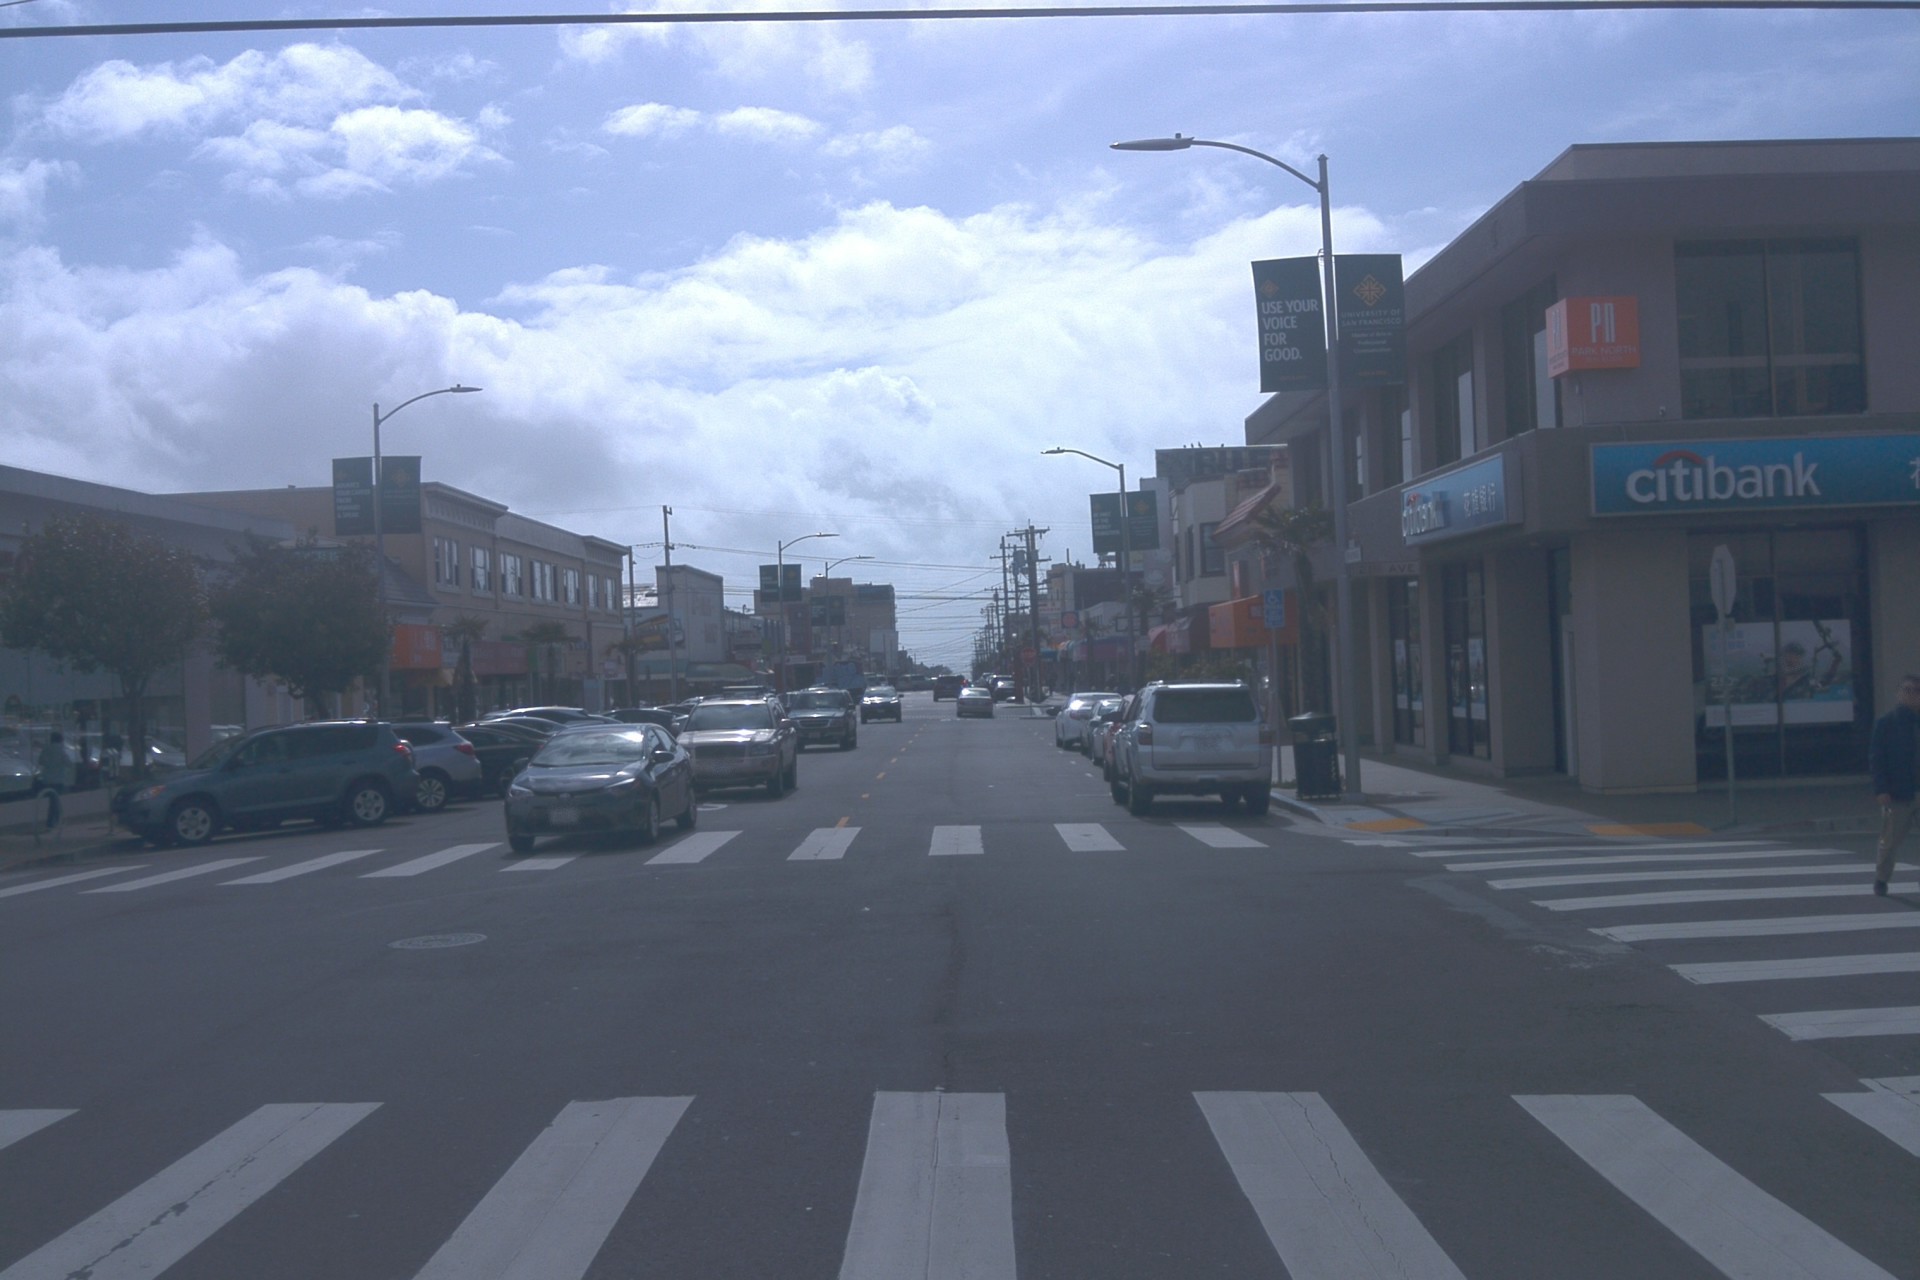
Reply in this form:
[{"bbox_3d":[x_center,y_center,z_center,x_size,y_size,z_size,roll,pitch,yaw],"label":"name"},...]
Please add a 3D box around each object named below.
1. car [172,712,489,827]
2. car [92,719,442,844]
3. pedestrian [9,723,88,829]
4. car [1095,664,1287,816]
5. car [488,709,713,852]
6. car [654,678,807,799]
[{"bbox_3d":[-10.593,2.121,35.040,4.689,1.720,2.069,0,-1,-37],"label":"car"},{"bbox_3d":[-10.624,2.109,31.927,4.689,1.670,2.069,0,-1,-36],"label":"car"},{"bbox_3d":[-14.637,2.174,33.298,0.791,1.643,0.931,0,-1,7],"label":"pedestrian"},{"bbox_3d":[3.161,1.335,29.363,2.072,1.977,4.682,0,-1,-2],"label":"car"},{"bbox_3d":[-4.414,1.692,26.193,2.013,1.553,4.581,0,-1,0],"label":"car"},{"bbox_3d":[-3.842,1.620,35.511,2.132,1.910,4.452,0,-1,0],"label":"car"}]
